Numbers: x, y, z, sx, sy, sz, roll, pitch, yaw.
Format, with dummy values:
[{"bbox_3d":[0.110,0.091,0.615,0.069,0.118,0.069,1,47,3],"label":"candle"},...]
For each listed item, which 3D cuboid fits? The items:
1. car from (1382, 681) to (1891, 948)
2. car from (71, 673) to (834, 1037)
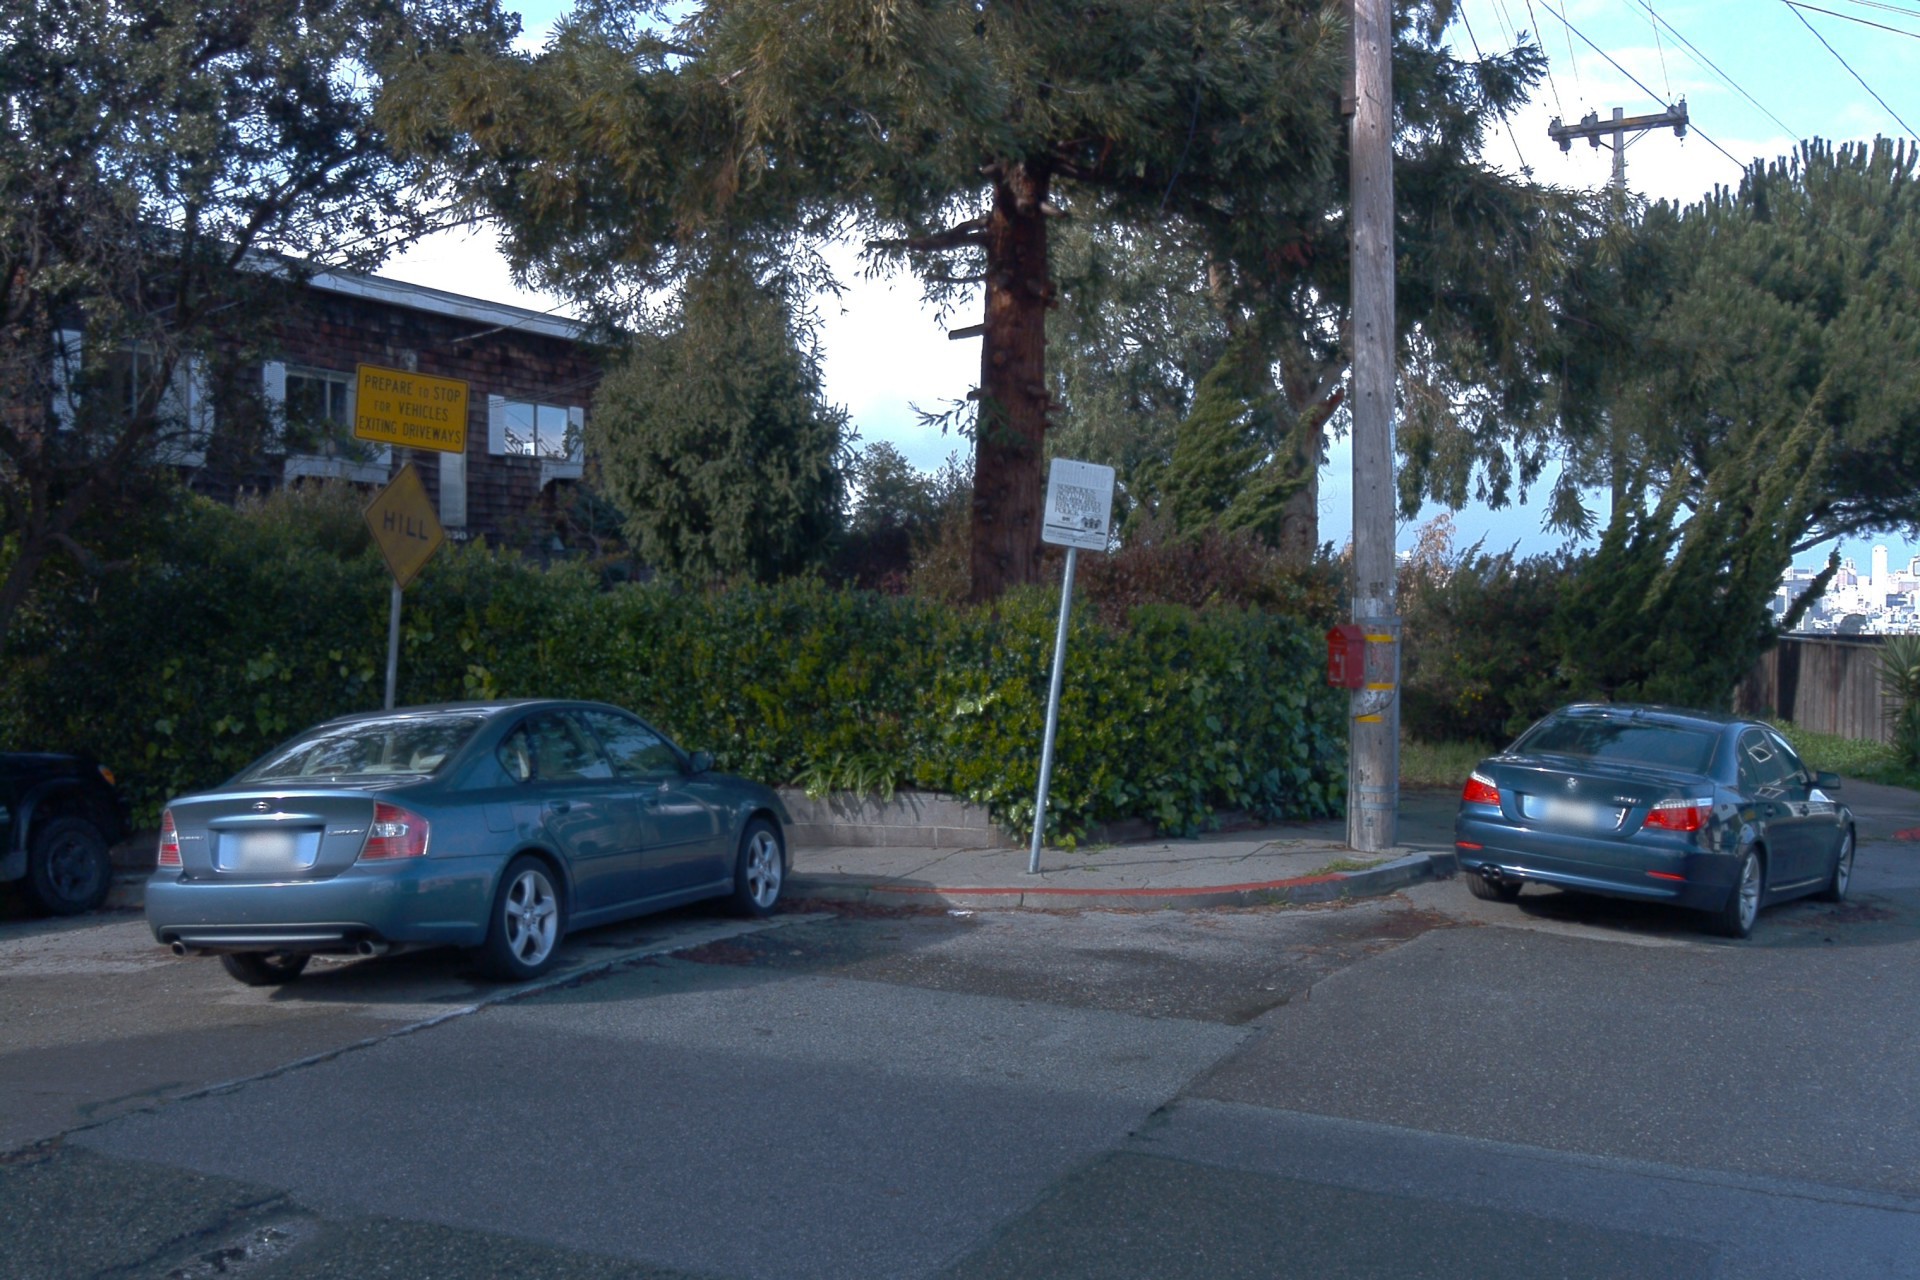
[{"bbox_3d":[5.013,1.092,14.773,2.160,1.430,4.592,2,1,36],"label":"car"},{"bbox_3d":[-2.524,0.991,11.541,1.908,1.450,4.511,1,1,21],"label":"car"}]
